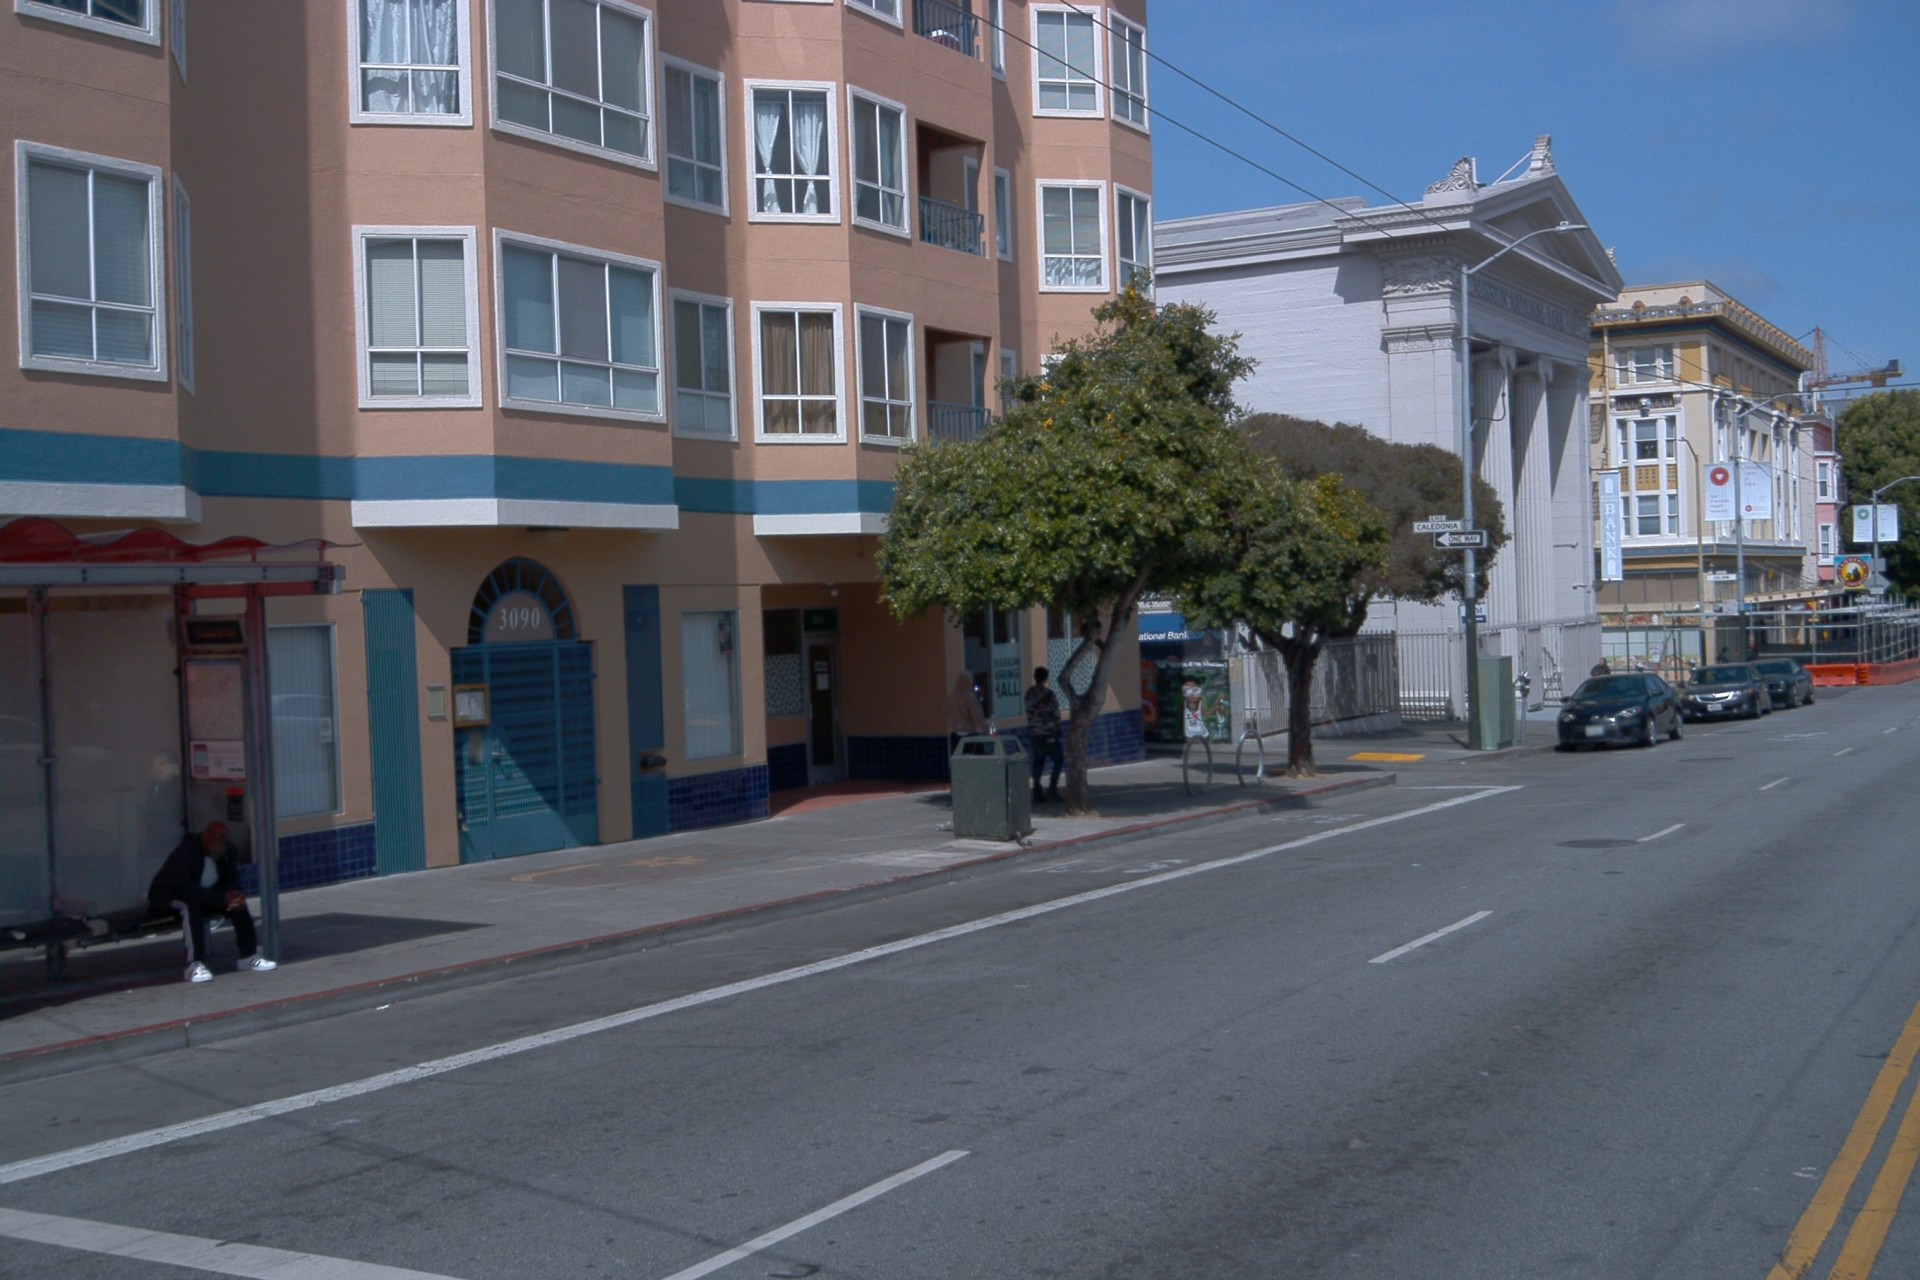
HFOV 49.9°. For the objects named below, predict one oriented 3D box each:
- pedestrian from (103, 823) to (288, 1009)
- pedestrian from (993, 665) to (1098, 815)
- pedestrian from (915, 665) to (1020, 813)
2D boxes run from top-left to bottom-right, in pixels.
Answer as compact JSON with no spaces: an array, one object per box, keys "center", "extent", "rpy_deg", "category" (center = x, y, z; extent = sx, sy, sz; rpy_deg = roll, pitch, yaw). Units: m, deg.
[{"center":[-5.182,1.848,14.006],"extent":[0.826,1.100,0.832],"rpy_deg":[0,1,29],"category":"pedestrian"},{"center":[1.116,1.267,26.723],"extent":[0.923,1.850,1.064],"rpy_deg":[0,1,36],"category":"pedestrian"},{"center":[0.105,1.279,27.291],"extent":[0.960,1.870,1.103],"rpy_deg":[0,1,31],"category":"pedestrian"}]
